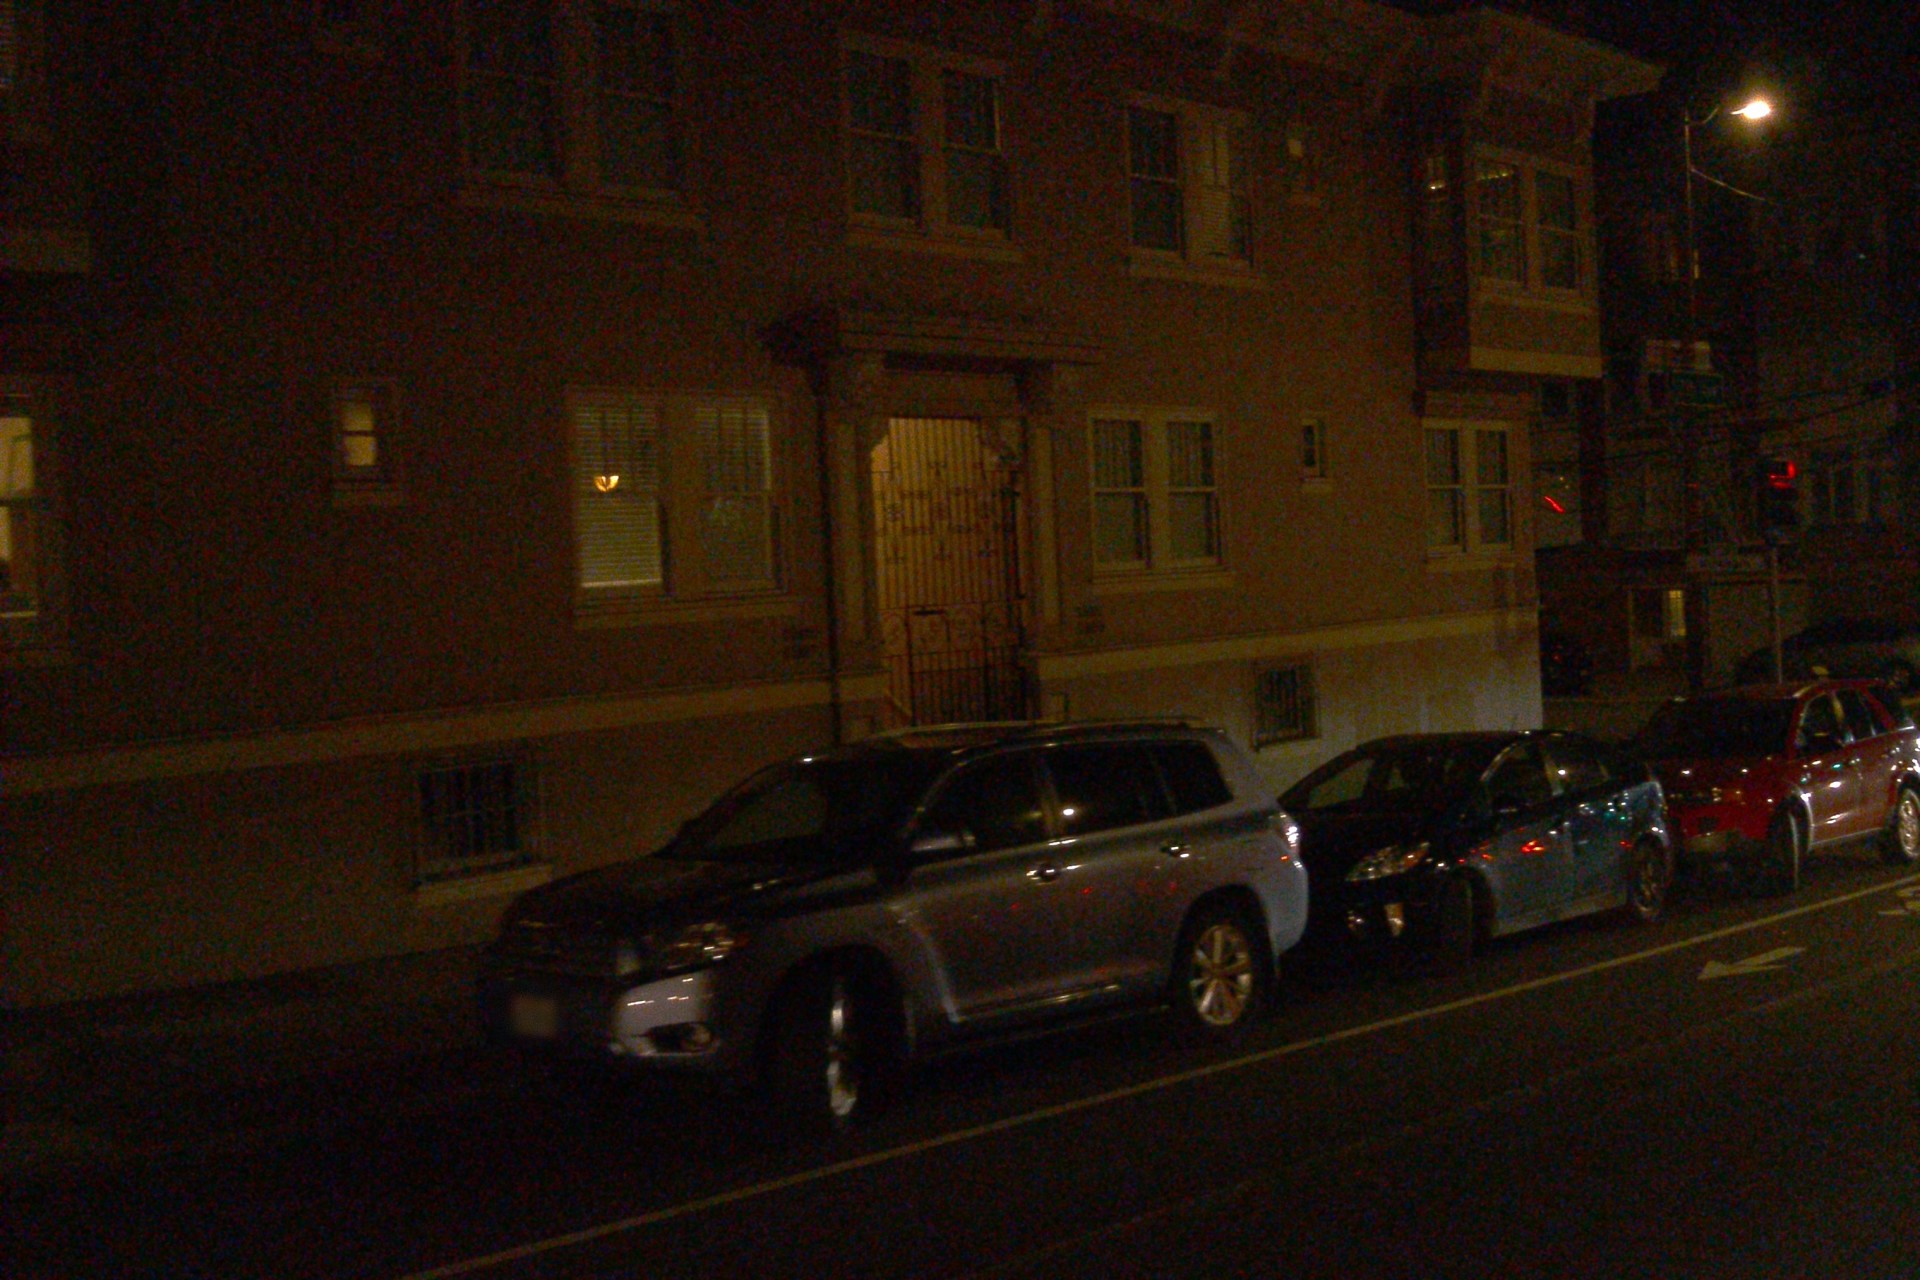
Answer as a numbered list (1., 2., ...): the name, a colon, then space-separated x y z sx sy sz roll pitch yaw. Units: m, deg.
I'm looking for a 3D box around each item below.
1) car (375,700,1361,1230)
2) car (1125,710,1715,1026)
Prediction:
1. car: -0.249 1.341 10.491 2.199 1.850 4.800 1 1 45
2. car: 3.385 1.431 14.531 2.056 1.640 4.514 1 1 43
